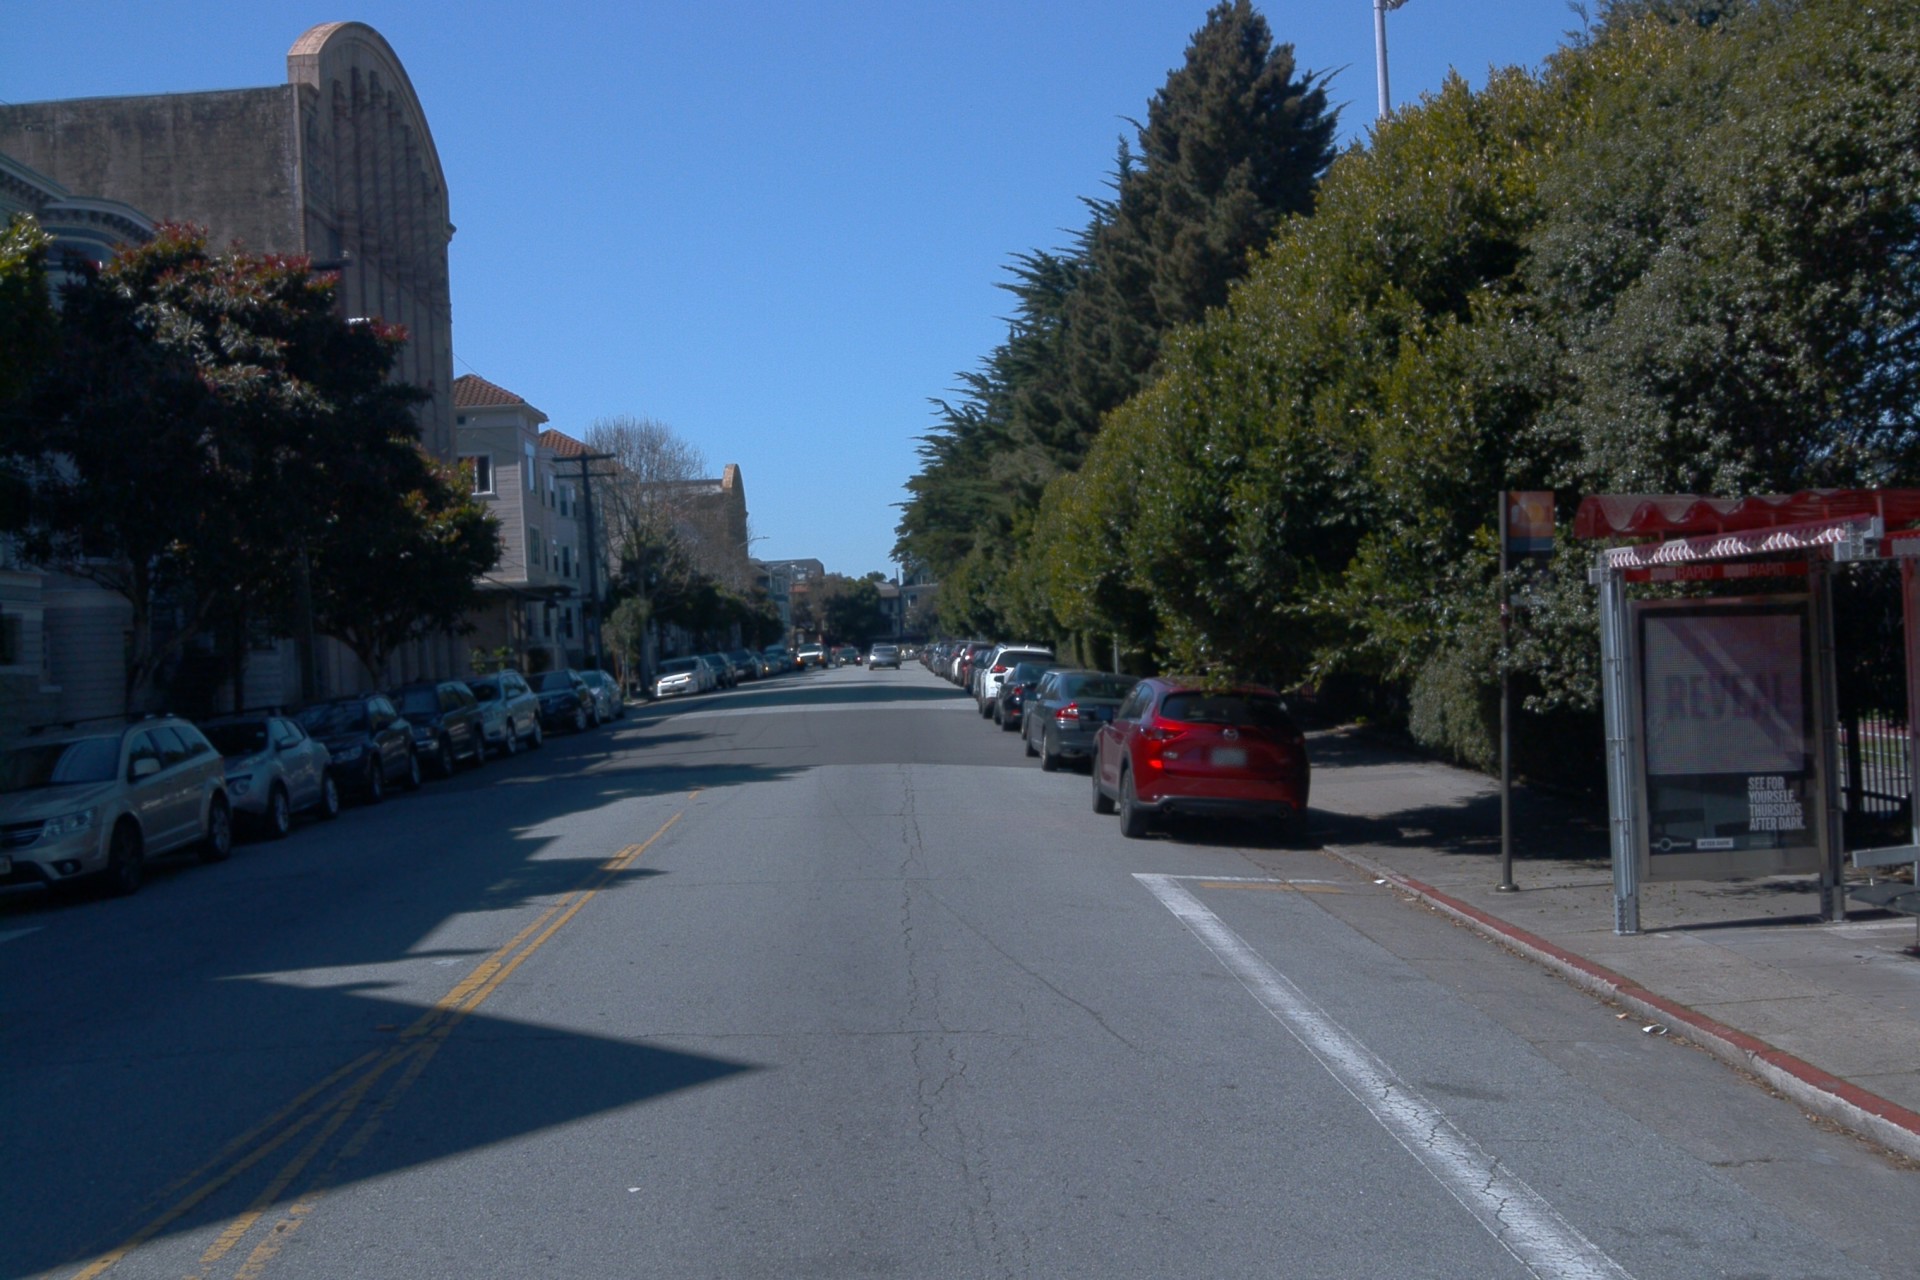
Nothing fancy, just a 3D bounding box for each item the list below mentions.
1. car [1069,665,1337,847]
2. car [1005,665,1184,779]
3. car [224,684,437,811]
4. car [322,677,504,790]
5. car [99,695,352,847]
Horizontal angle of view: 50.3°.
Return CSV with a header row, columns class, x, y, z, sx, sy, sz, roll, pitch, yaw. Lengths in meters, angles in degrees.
class,x,y,z,sx,sy,sz,roll,pitch,yaw
car,2.527,1.176,22.519,2.213,1.700,4.645,0,0,-2
car,1.998,1.214,31.949,2.225,1.530,5.002,0,0,-3
car,-9.526,1.578,31.324,2.066,1.660,4.552,0,0,-3
car,-9.762,1.626,36.875,2.004,1.780,4.777,1,0,0
car,-9.329,1.612,26.346,1.981,1.640,4.296,0,0,-4
